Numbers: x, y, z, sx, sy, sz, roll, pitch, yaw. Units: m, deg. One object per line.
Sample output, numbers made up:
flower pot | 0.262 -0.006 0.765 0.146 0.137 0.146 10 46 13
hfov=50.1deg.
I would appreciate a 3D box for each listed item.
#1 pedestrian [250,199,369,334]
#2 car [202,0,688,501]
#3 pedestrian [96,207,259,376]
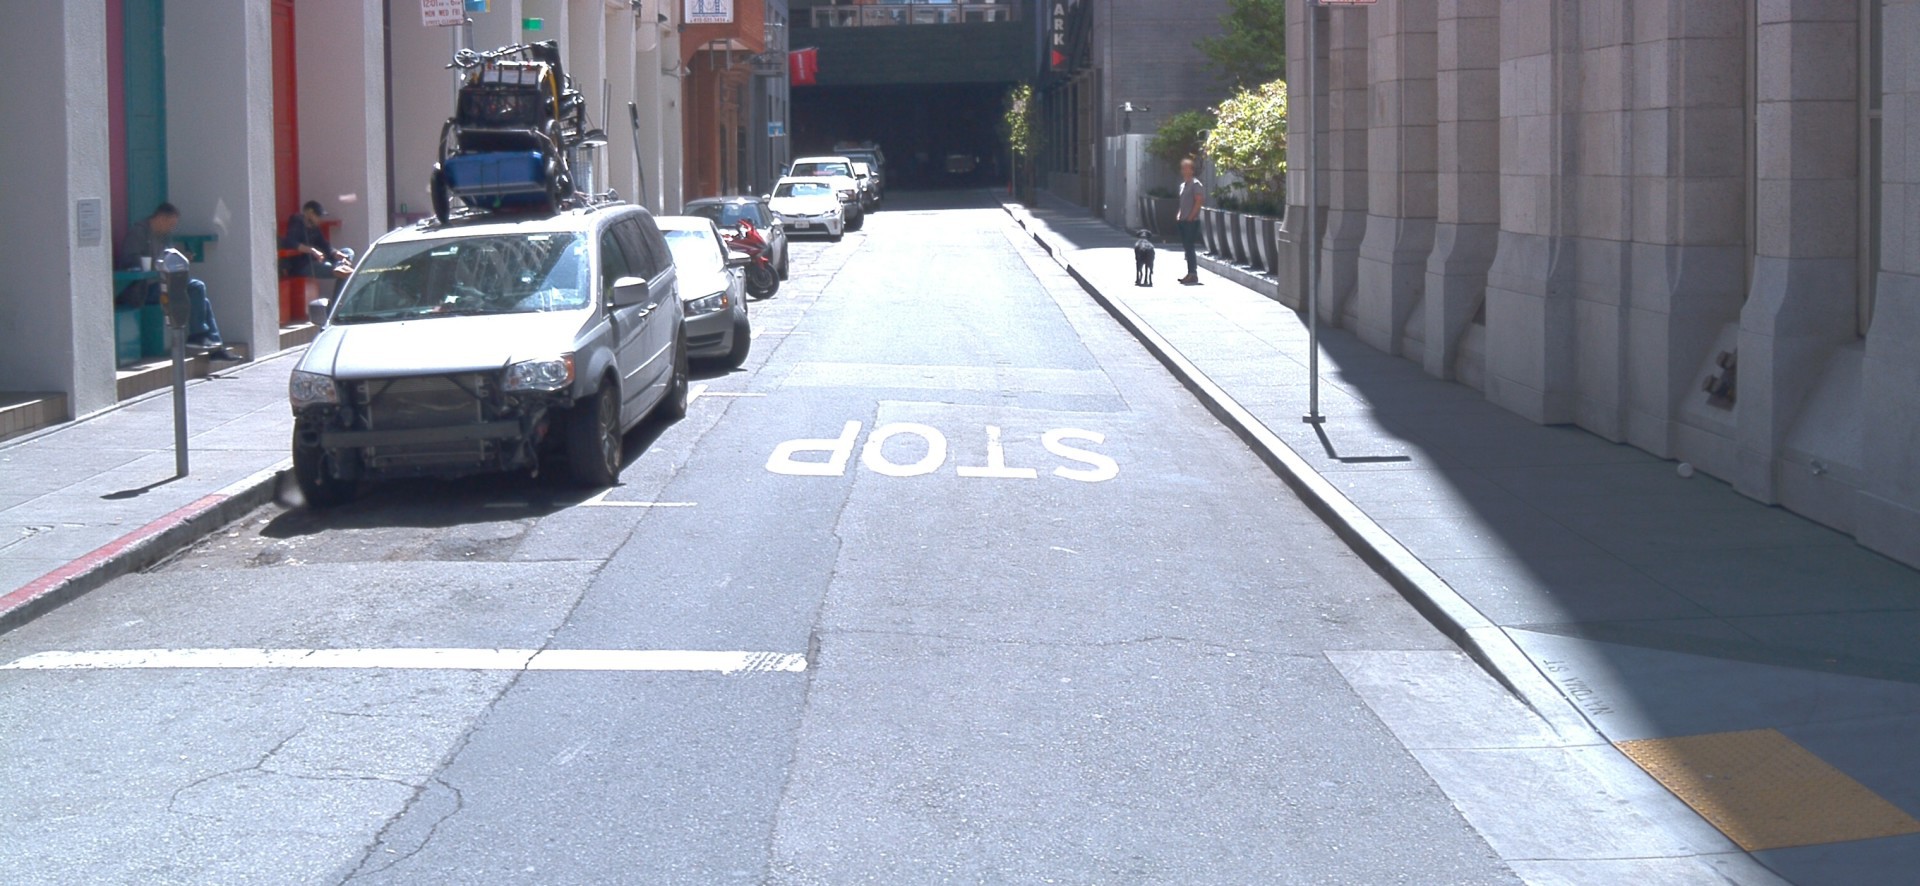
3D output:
pedestrian | -6.947 -1.896 21.988 1.052 1.412 0.774 0 1 -3
car | -3.338 -1.408 14.519 2.304 2.971 5.041 0 4 -2
pedestrian | -6.886 -1.344 18.125 1.160 1.456 0.758 0 1 -3
